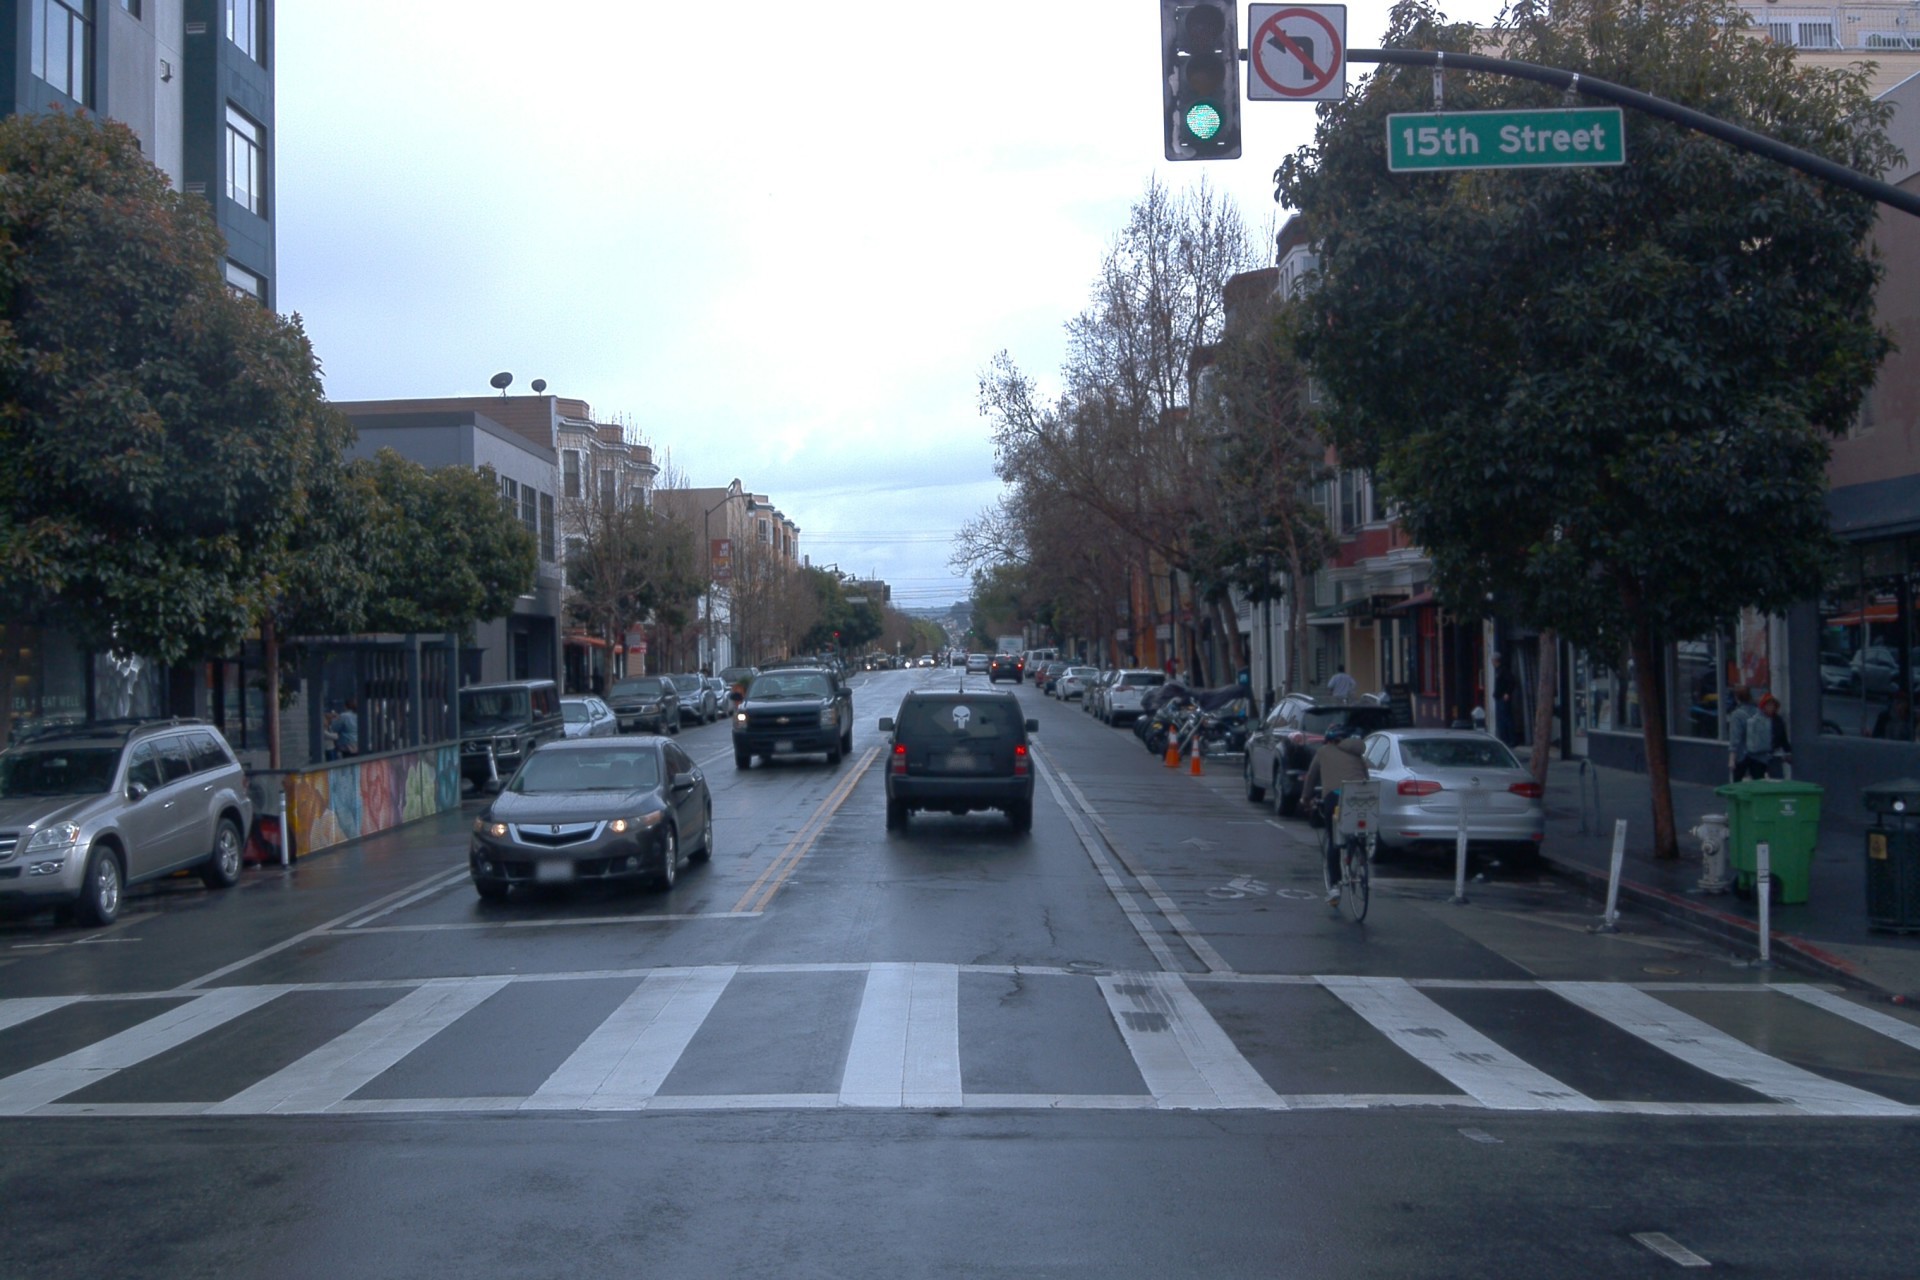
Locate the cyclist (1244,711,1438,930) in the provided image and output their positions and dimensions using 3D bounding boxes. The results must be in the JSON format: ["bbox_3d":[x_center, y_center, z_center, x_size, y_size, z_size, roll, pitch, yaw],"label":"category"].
[{"bbox_3d":[3.263,1.513,17.767,1.265,1.710,2.011,1,0,-1],"label":"cyclist"}]

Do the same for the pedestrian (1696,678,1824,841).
[{"bbox_3d":[9.117,1.343,23.332,0.995,1.800,0.927,0,0,-13],"label":"pedestrian"}]

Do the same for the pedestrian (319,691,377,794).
[{"bbox_3d":[-10.575,1.759,35.367,0.886,1.740,0.940,0,0,-13],"label":"pedestrian"}]

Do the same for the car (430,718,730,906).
[{"bbox_3d":[-3.633,1.615,20.435,2.084,1.460,4.508,1,0,1],"label":"car"}]

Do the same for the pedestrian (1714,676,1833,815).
[{"bbox_3d":[9.990,1.280,25.146,1.007,1.650,0.988,0,0,-5],"label":"pedestrian"}]

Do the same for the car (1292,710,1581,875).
[{"bbox_3d":[5.274,1.646,23.346,2.078,1.490,4.719,0,0,-1],"label":"car"}]

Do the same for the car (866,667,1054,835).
[{"bbox_3d":[0.008,1.345,26.352,2.194,1.885,4.386,1,0,0],"label":"car"}]

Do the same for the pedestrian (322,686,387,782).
[{"bbox_3d":[-10.512,1.620,35.513,0.796,1.620,0.826,1,0,9],"label":"pedestrian"}]

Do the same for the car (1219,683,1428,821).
[{"bbox_3d":[5.157,1.551,29.682,2.093,1.710,4.640,0,0,-1],"label":"car"}]
